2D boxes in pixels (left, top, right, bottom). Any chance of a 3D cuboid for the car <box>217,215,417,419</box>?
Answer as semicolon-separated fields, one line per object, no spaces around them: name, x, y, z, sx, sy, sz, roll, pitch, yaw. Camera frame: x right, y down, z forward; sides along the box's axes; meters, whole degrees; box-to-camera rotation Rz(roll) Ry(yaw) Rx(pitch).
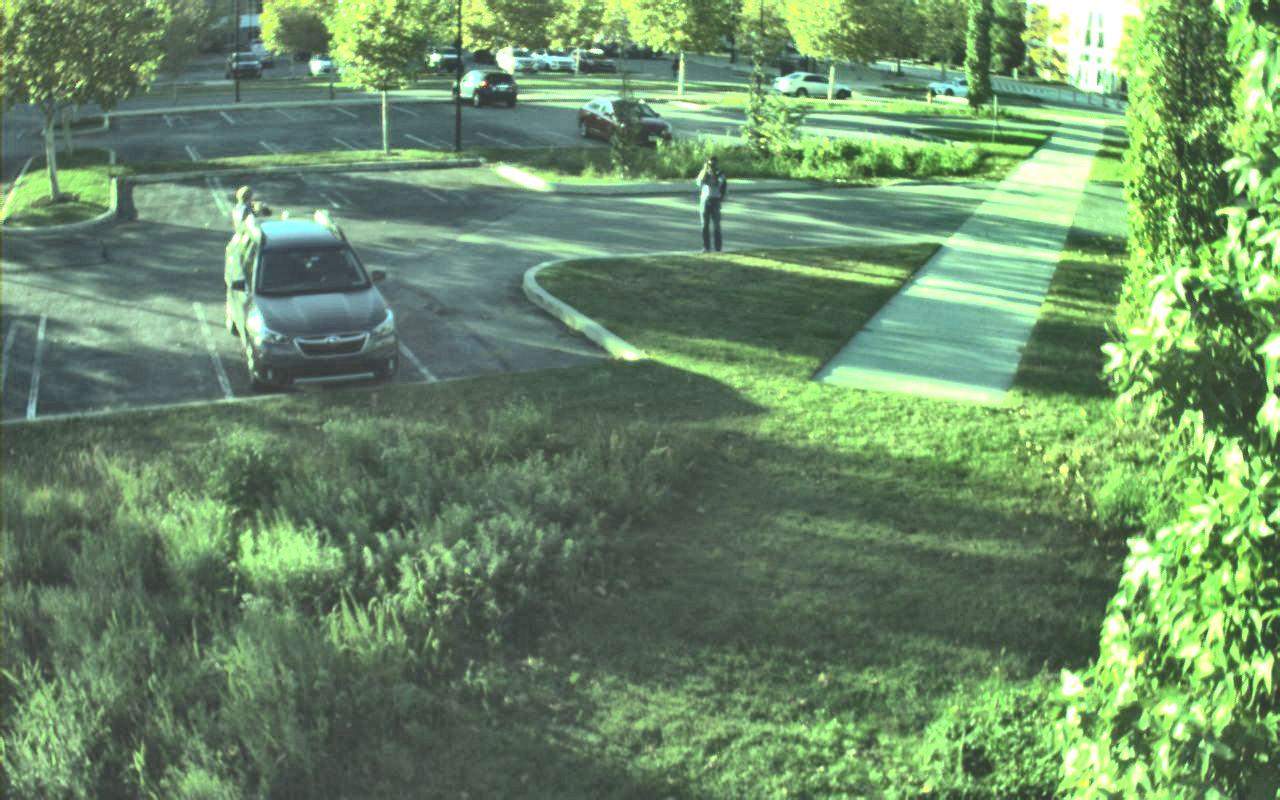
car;-4.363;-1.243;15.850;2.010;1.639;4.609;-7;16;-21

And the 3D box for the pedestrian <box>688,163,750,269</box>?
pedestrian;1.412;-3.298;22.412;0.795;1.776;0.771;-14;19;-41

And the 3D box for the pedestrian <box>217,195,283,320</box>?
pedestrian;-6.020;-2.193;18.632;0.831;1.766;0.819;-3;15;-9
